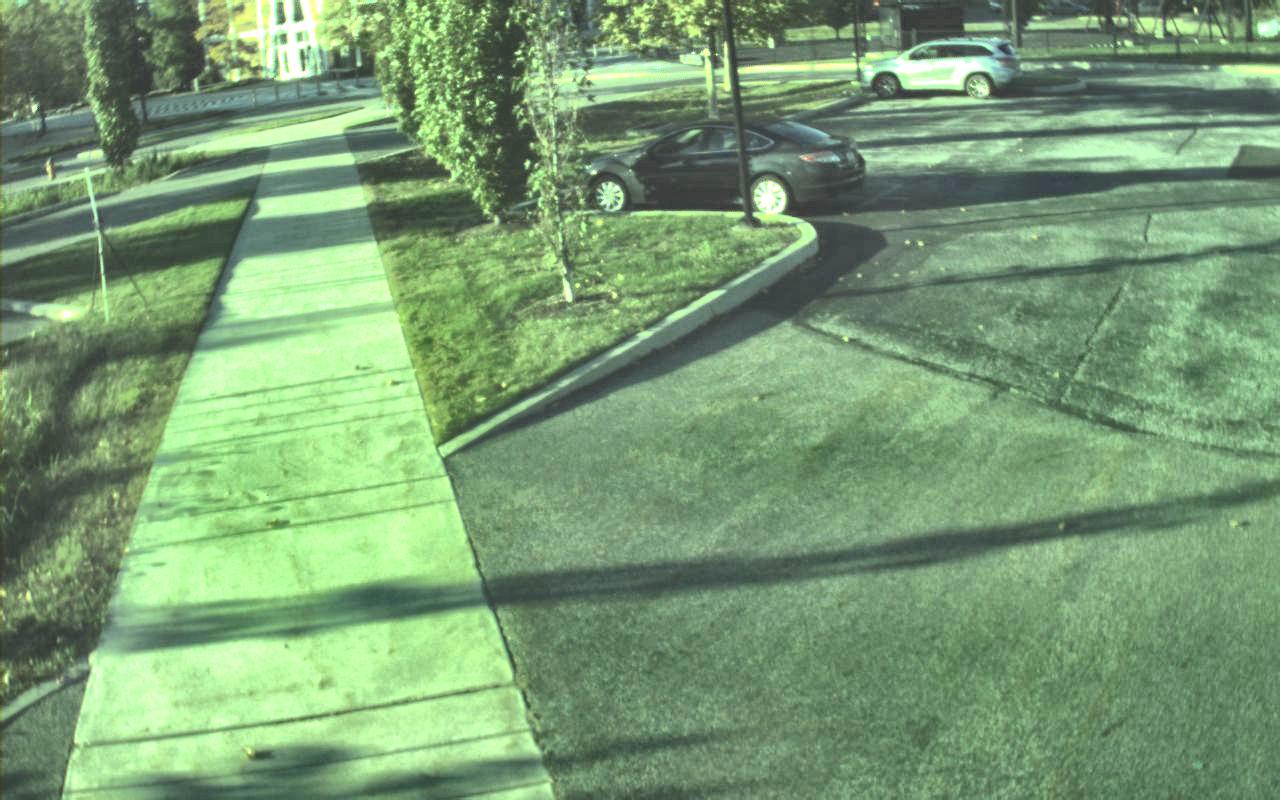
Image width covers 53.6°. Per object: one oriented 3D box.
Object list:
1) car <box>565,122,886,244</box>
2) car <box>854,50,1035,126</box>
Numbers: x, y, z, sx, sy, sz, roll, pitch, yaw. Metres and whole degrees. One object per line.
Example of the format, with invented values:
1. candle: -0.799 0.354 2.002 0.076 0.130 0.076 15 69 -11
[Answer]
1. car: 1.344 -3.508 19.710 4.692 1.568 1.982 7 17 28
2. car: 8.925 -9.125 35.285 5.007 2.017 2.134 7 17 28
